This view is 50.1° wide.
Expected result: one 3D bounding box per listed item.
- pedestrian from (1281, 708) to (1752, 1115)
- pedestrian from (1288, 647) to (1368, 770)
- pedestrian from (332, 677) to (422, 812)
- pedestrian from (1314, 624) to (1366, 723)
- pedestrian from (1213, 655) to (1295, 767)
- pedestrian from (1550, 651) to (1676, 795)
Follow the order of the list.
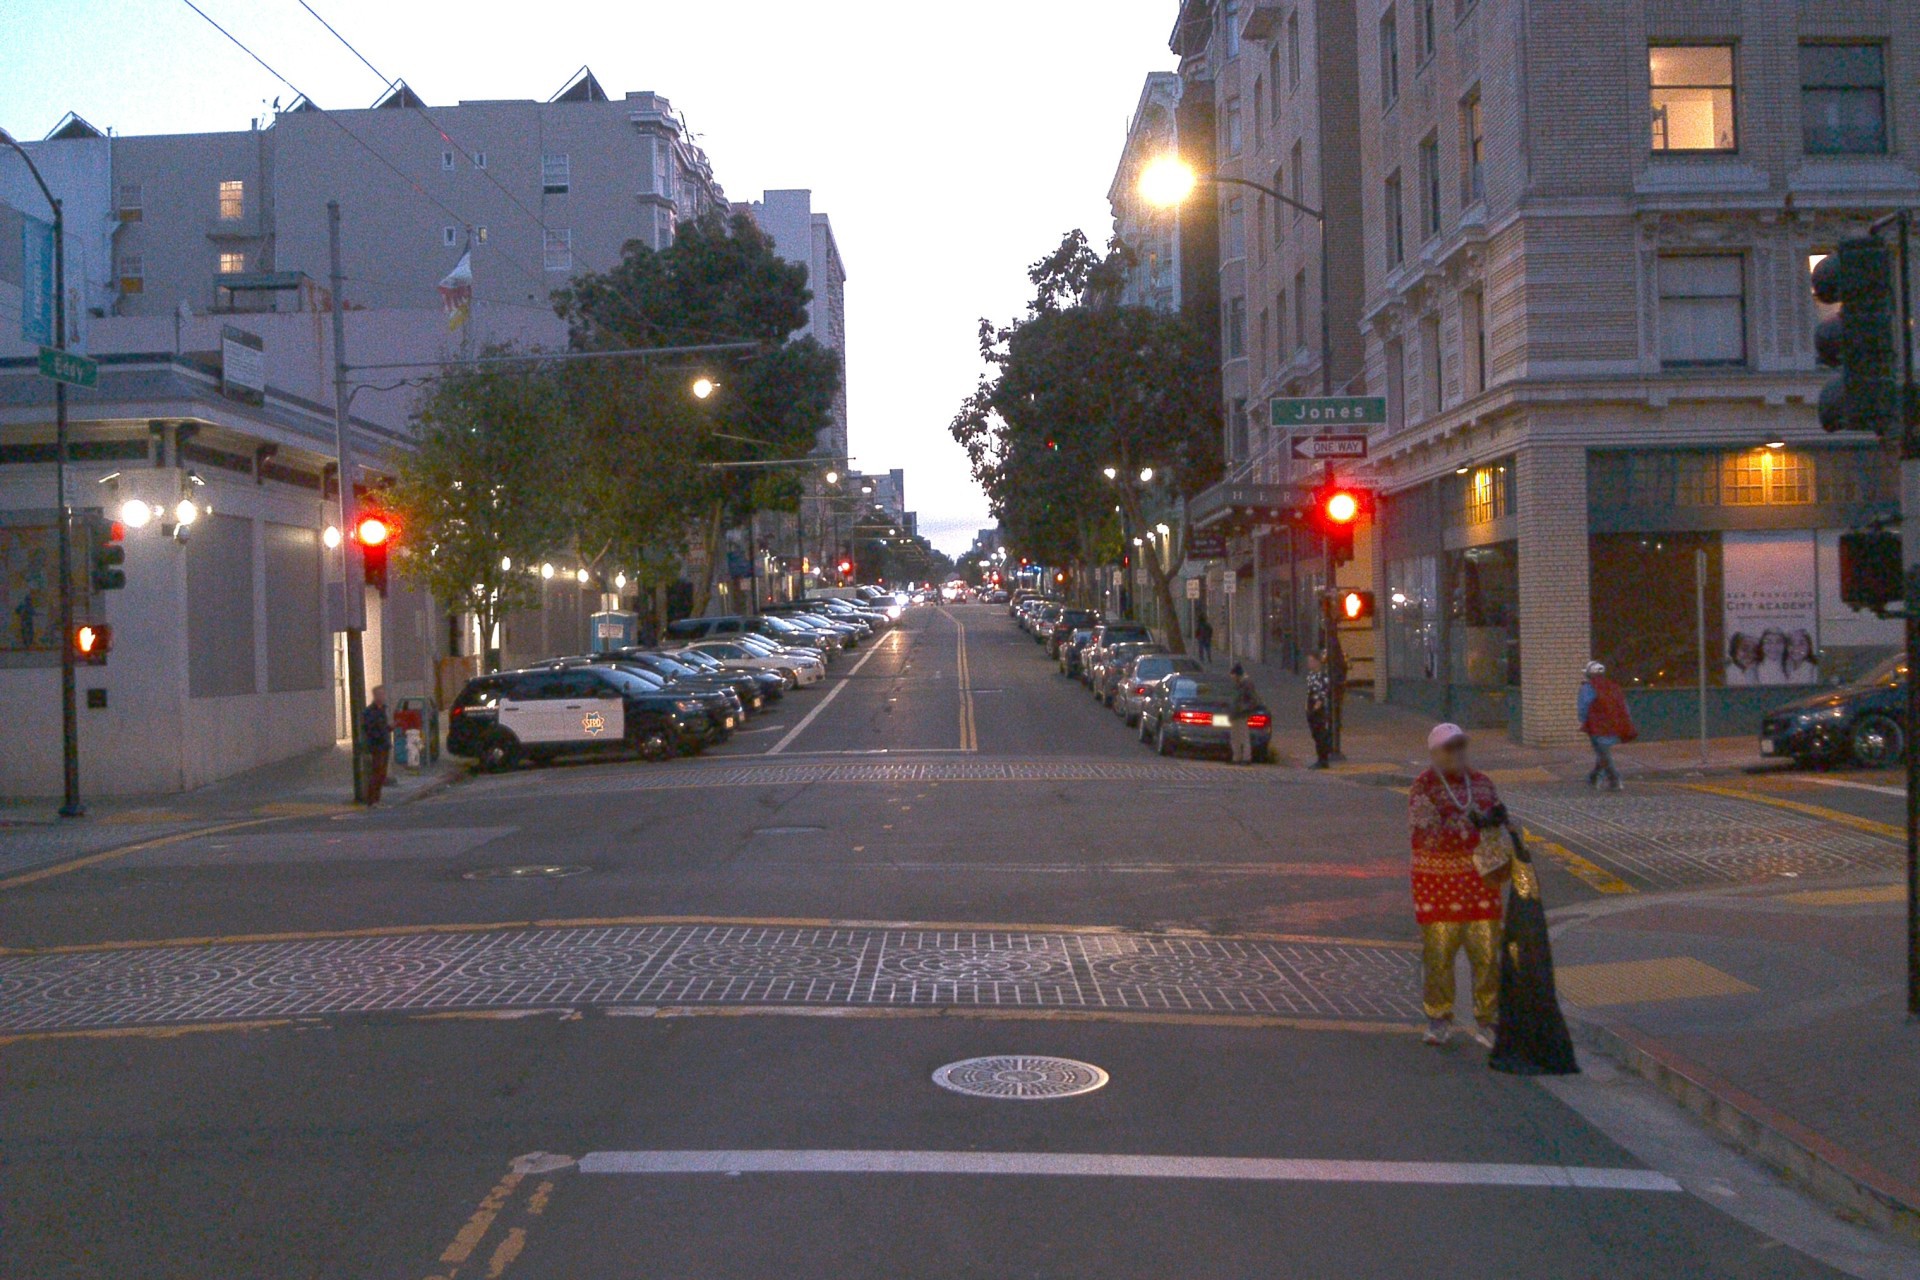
[{"bbox_3d":[2.633,1.241,10.176,1.900,1.710,1.968,0,1,4],"label":"pedestrian"},{"bbox_3d":[5.545,1.025,31.037,1.076,1.820,0.594,0,1,-2],"label":"pedestrian"},{"bbox_3d":[-8.517,1.516,30.066,1.099,1.930,0.689,0,1,2],"label":"pedestrian"},{"bbox_3d":[6.920,0.607,37.478,0.788,1.770,0.785,0,1,-1],"label":"pedestrian"},{"bbox_3d":[4.612,1.097,32.326,0.998,1.700,1.002,0,1,-10],"label":"pedestrian"},{"bbox_3d":[7.570,0.941,23.869,0.997,1.590,1.003,-1,1,-17],"label":"pedestrian"}]
